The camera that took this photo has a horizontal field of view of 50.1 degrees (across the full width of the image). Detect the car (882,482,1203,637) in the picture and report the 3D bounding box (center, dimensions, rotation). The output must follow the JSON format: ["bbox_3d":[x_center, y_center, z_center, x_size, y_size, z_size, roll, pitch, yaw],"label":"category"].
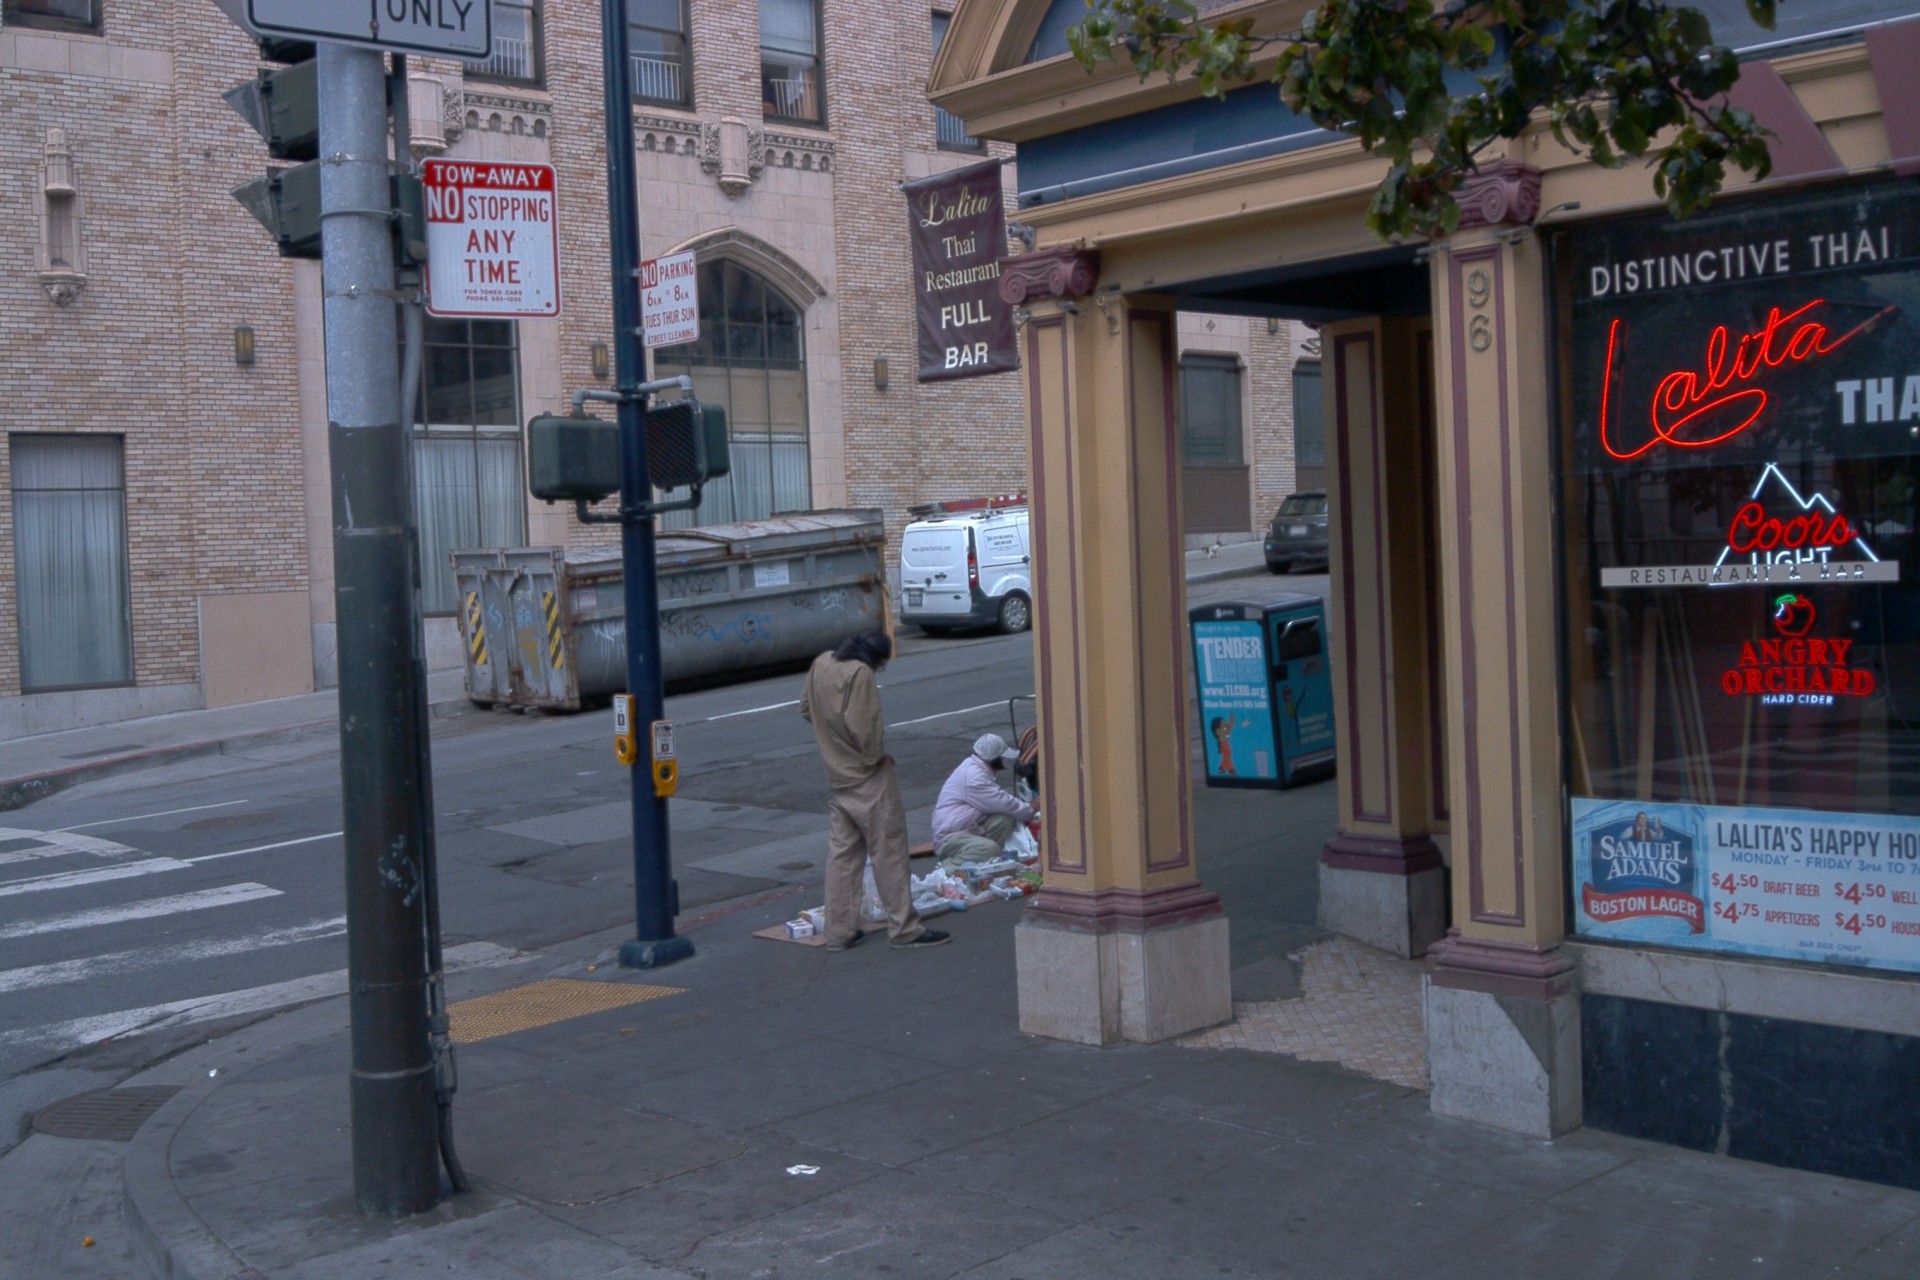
[{"bbox_3d":[1.320,-1.151,31.092,4.848,2.170,2.020,-1,1,-43],"label":"car"}]

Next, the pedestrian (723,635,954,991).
[{"bbox_3d":[-0.592,0.816,10.244,0.888,1.670,0.837,0,0,21],"label":"pedestrian"}]

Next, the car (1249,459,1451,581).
[{"bbox_3d":[6.935,-2.067,36.371,1.744,1.980,3.738,0,1,44],"label":"car"}]

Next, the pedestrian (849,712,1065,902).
[{"bbox_3d":[-0.019,0.926,11.734,0.871,0.970,0.871,0,0,-42],"label":"pedestrian"}]
